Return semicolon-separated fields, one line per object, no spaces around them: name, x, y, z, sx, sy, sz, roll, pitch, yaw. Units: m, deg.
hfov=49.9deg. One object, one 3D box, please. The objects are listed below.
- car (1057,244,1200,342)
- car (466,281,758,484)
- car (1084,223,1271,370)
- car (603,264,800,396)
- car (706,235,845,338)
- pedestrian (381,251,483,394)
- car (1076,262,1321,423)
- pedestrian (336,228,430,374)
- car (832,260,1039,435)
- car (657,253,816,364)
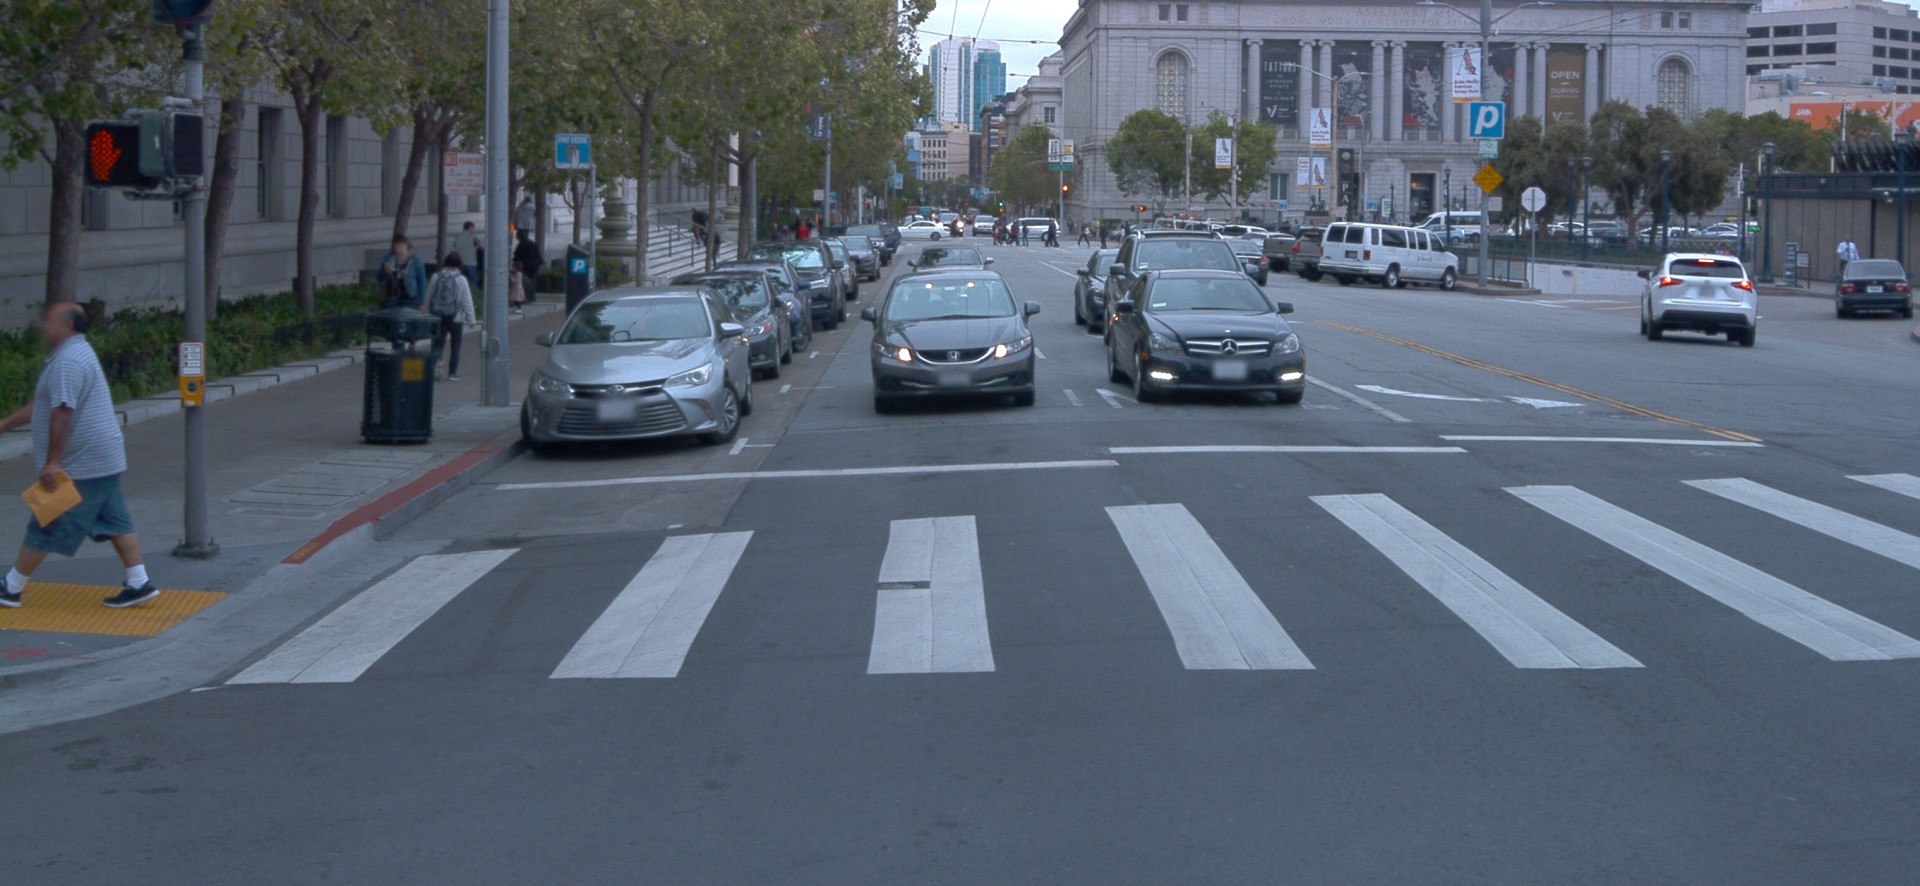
car;2.852;-2.667;35.899;2.097;1.481;4.736;0;6;0
car;-3.300;-0.721;20.579;2.130;1.581;4.806;0;6;0
car;3.050;-2.209;29.885;2.128;1.890;4.701;0;6;-1
car;-3.417;-1.615;28.193;2.120;1.491;4.717;0;6;0
car;-3.434;-3.034;39.246;2.231;1.740;4.910;0;6;0
pedestrian;-6.352;-1.467;24.851;1.012;1.654;0.859;0;2;-2
car;2.556;-1.219;23.183;2.019;1.482;4.545;-1;6;-3
pedestrian;-7.454;-1.850;26.679;0.897;1.831;0.977;0;2;2
car;-0.203;-1.162;23.016;2.074;1.621;4.573;0;6;1
car;-3.523;-2.236;33.333;2.072;1.521;4.713;0;6;0
